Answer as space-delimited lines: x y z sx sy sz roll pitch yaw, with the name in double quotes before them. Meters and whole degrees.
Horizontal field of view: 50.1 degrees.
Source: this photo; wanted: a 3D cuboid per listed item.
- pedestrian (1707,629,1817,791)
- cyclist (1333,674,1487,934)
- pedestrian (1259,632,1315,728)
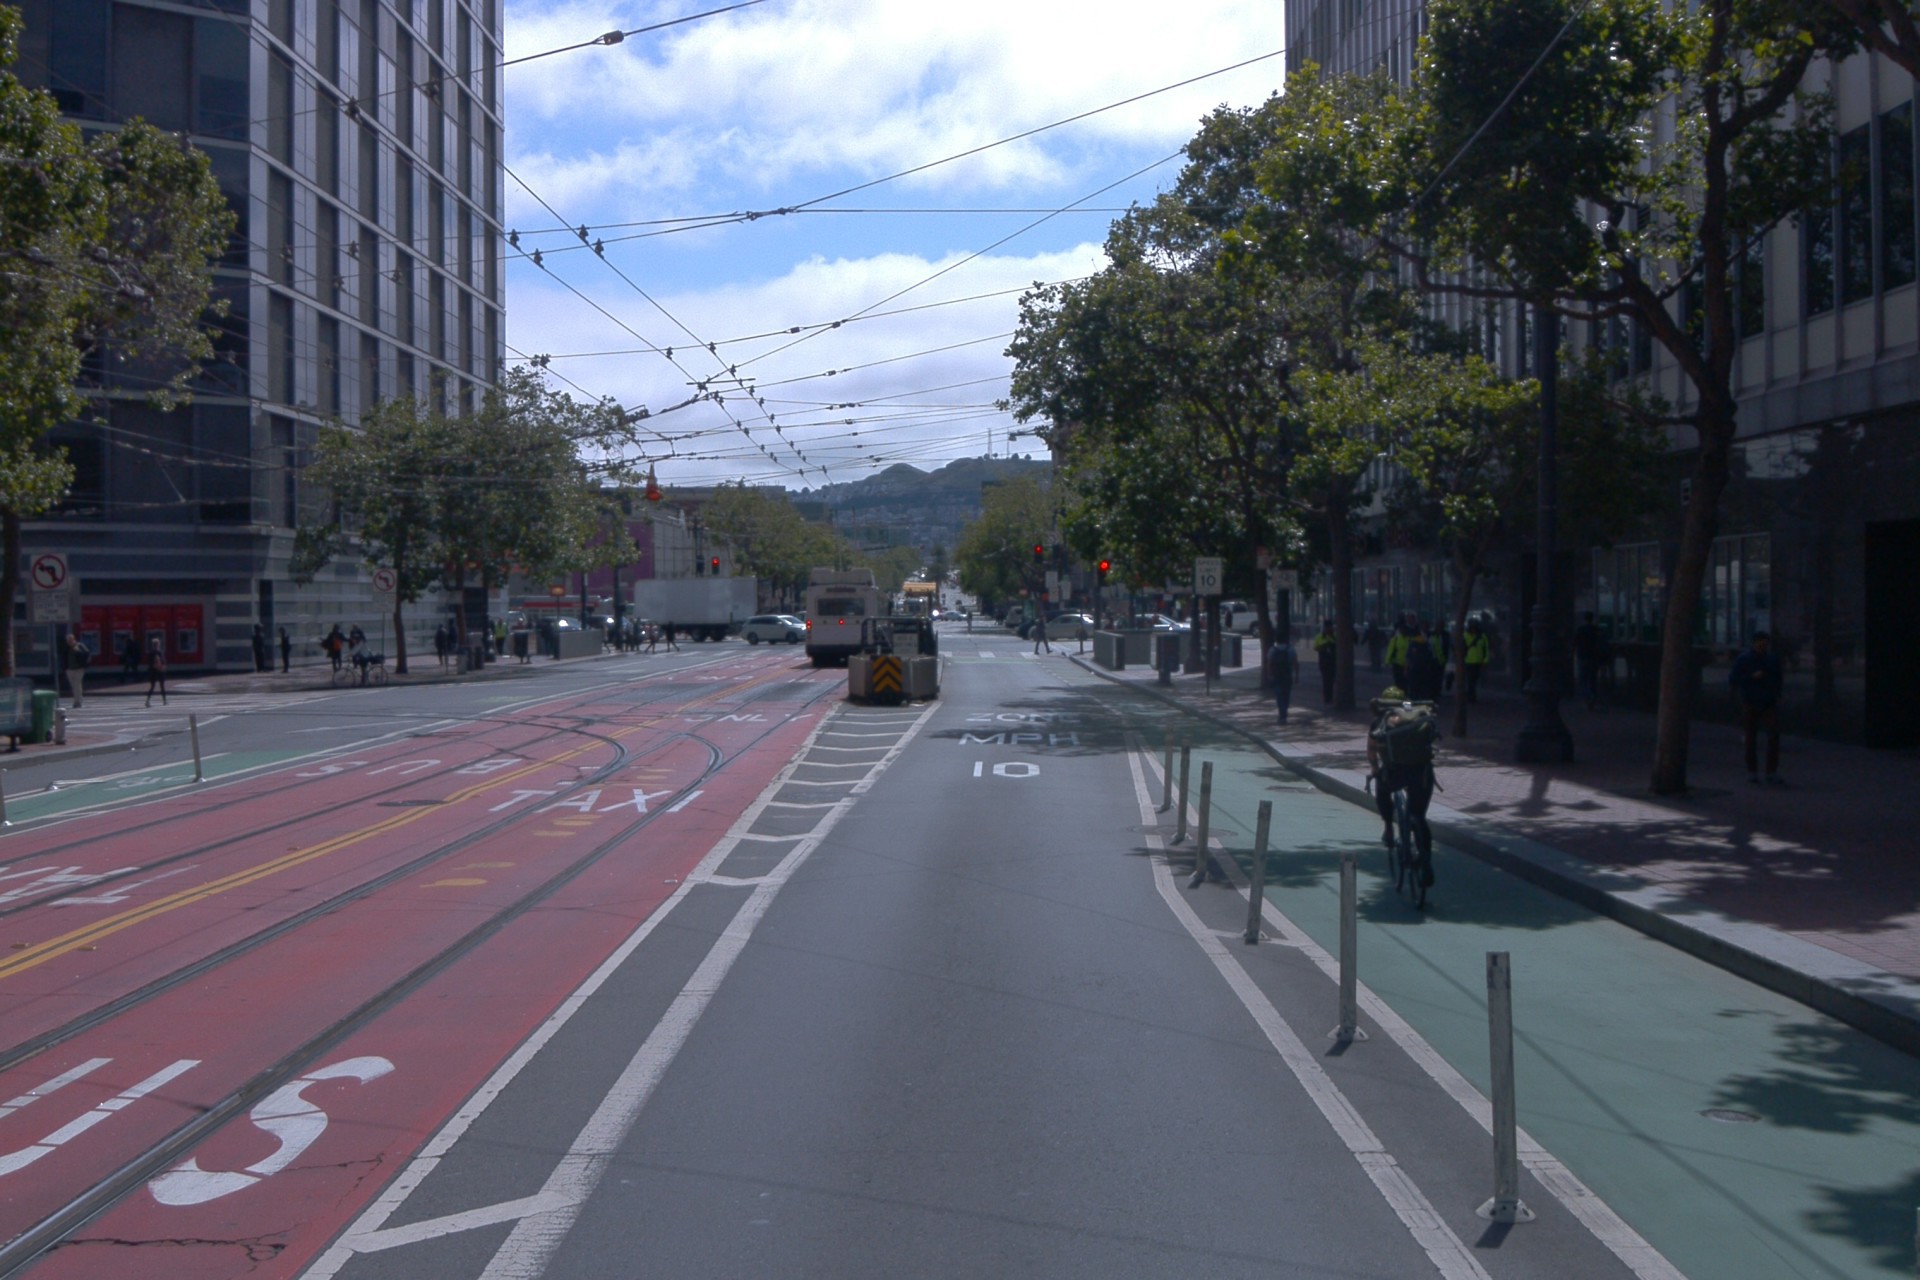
"pedestrian" 9.043 0.766 23.213 0.810 1.770 1.171 0 1 2
"cyclist" 3.316 1.162 15.293 0.807 1.770 1.801 0 1 2
"pedestrian" 5.850 0.704 36.812 0.810 1.680 0.943 0 1 -2
